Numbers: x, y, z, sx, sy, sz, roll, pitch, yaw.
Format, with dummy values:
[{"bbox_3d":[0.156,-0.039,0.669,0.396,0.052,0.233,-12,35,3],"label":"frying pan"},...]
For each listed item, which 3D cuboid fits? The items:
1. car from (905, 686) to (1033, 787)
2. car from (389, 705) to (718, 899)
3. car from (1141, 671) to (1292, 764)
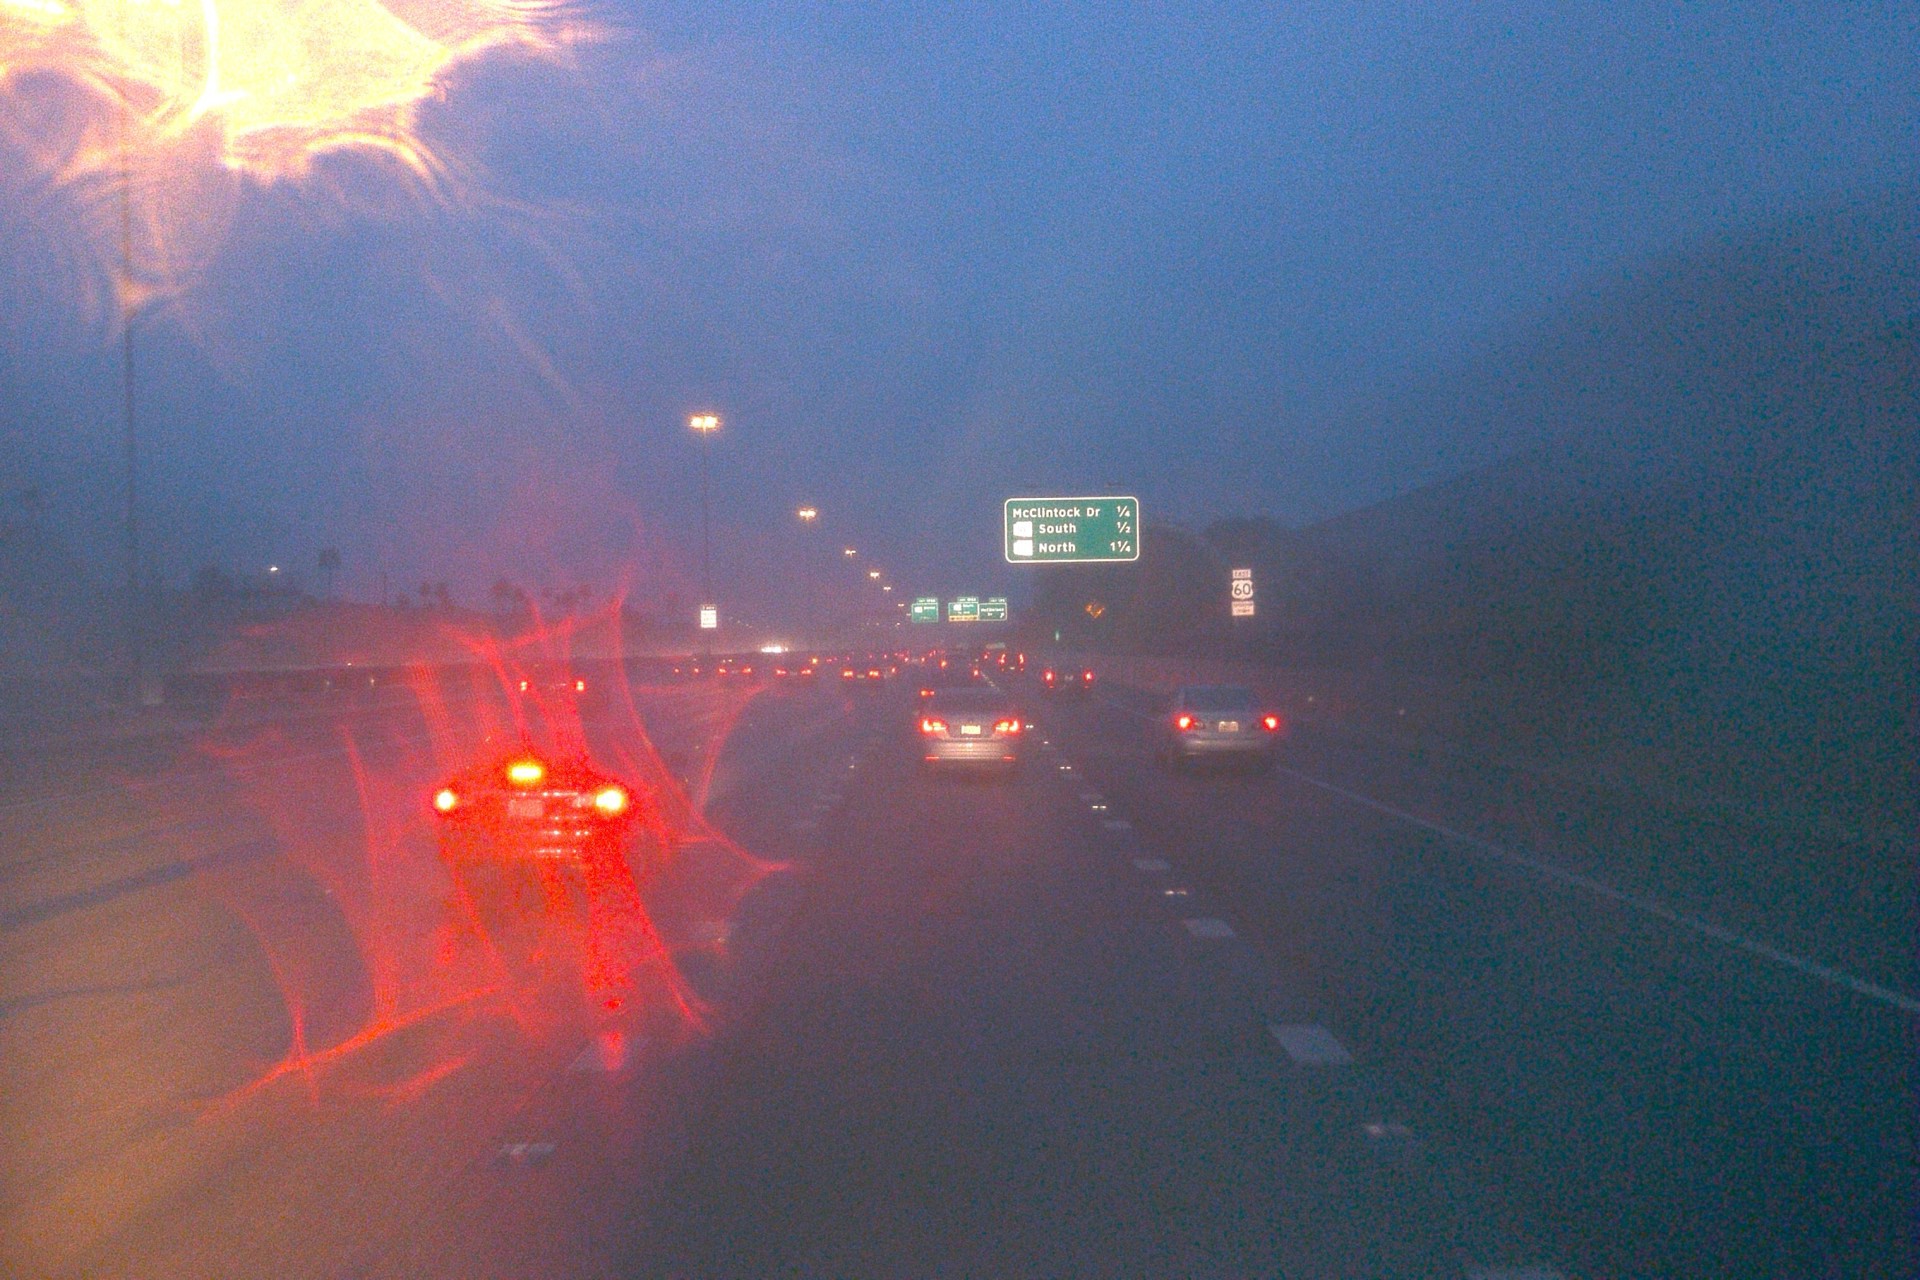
[{"bbox_3d":[0.155,1.528,33.954,1.966,1.470,4.133,0,0,0],"label":"car"},{"bbox_3d":[-3.663,1.422,19.604,2.168,1.490,4.575,0,0,1],"label":"car"},{"bbox_3d":[4.256,1.261,35.104,2.013,1.440,4.411,0,0,0],"label":"car"}]
